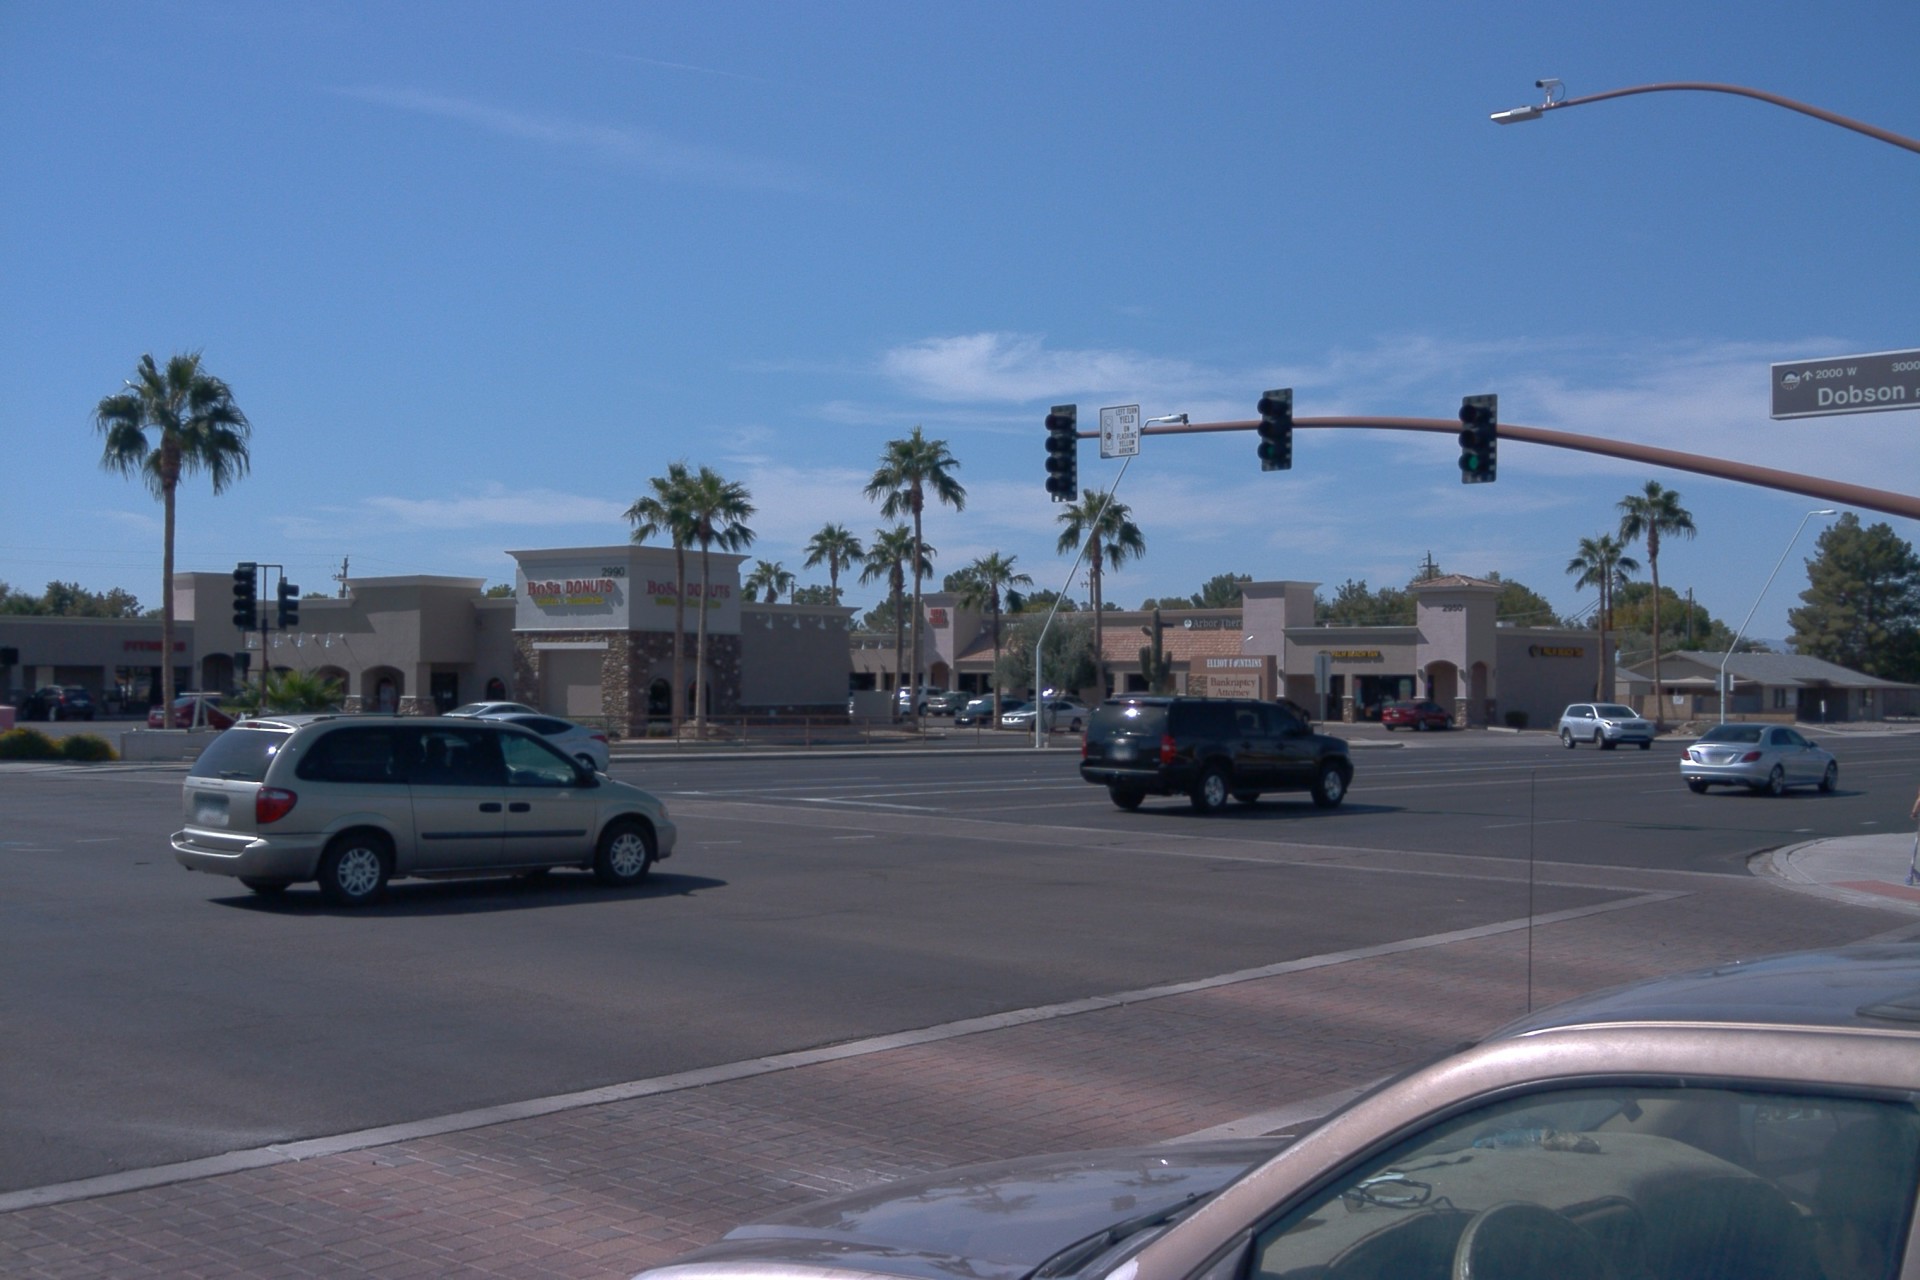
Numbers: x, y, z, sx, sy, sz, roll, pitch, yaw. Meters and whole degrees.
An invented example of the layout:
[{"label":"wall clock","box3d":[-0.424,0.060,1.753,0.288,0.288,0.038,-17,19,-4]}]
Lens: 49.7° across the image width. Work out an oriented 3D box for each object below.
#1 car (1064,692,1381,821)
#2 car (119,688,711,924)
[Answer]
[{"label":"car","box3d":[4.519,1.885,34.965,2.330,1.950,5.645,-1,-1,45]},{"label":"car","box3d":[-5.130,1.463,20.085,2.146,1.950,5.171,-1,-1,45]}]
